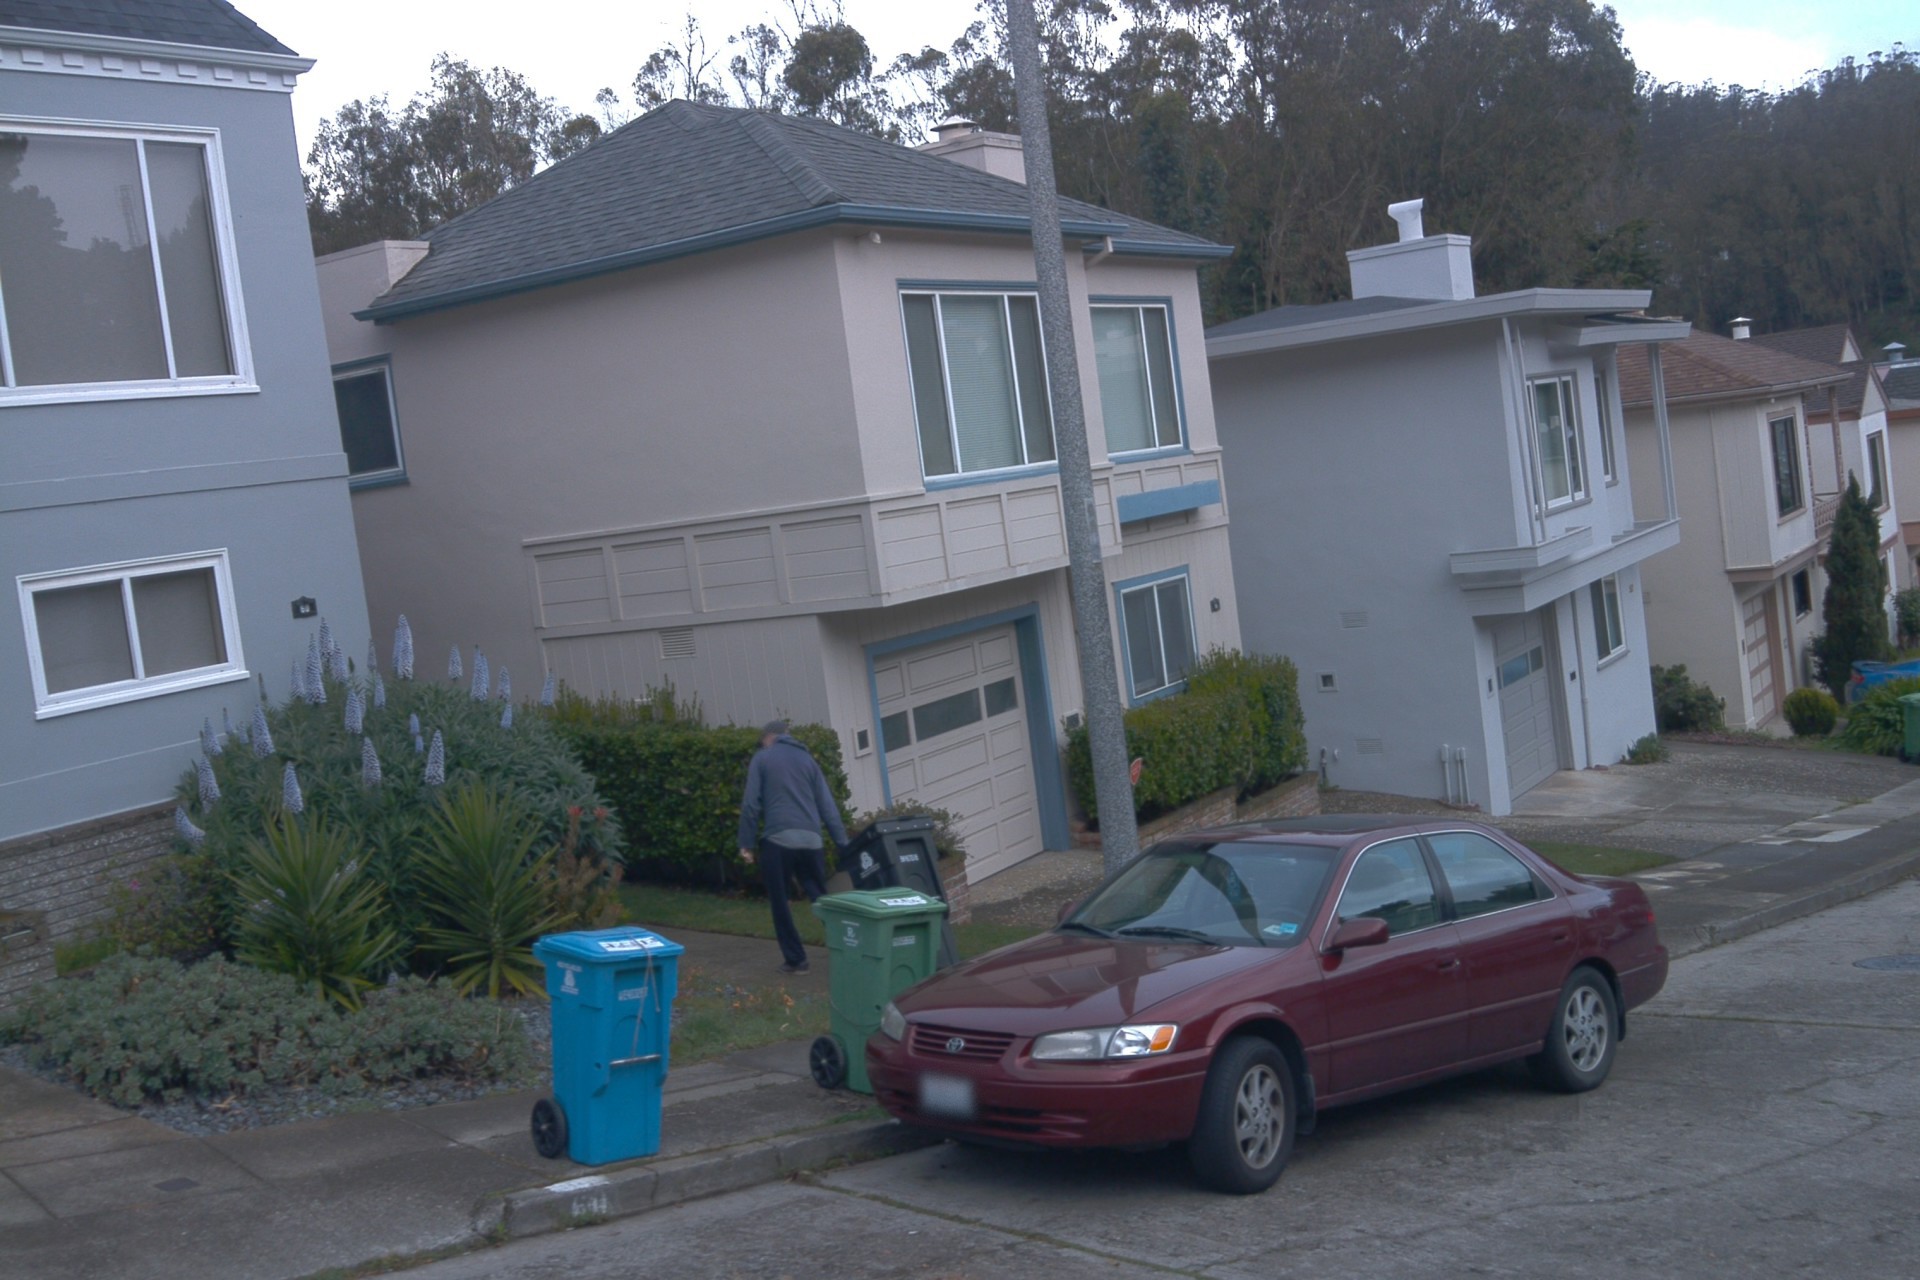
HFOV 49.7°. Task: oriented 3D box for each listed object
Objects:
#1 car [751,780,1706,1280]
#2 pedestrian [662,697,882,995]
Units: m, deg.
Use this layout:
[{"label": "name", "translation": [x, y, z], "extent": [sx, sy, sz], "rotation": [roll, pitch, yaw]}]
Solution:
[{"label": "car", "translation": [1.492, 1.673, 9.889], "extent": [4.724, 1.660, 1.993], "rotation": [-1, 0, -44]}, {"label": "pedestrian", "translation": [-1.191, 1.249, 13.080], "extent": [1.006, 1.730, 0.994], "rotation": [0, 0, -37]}]
